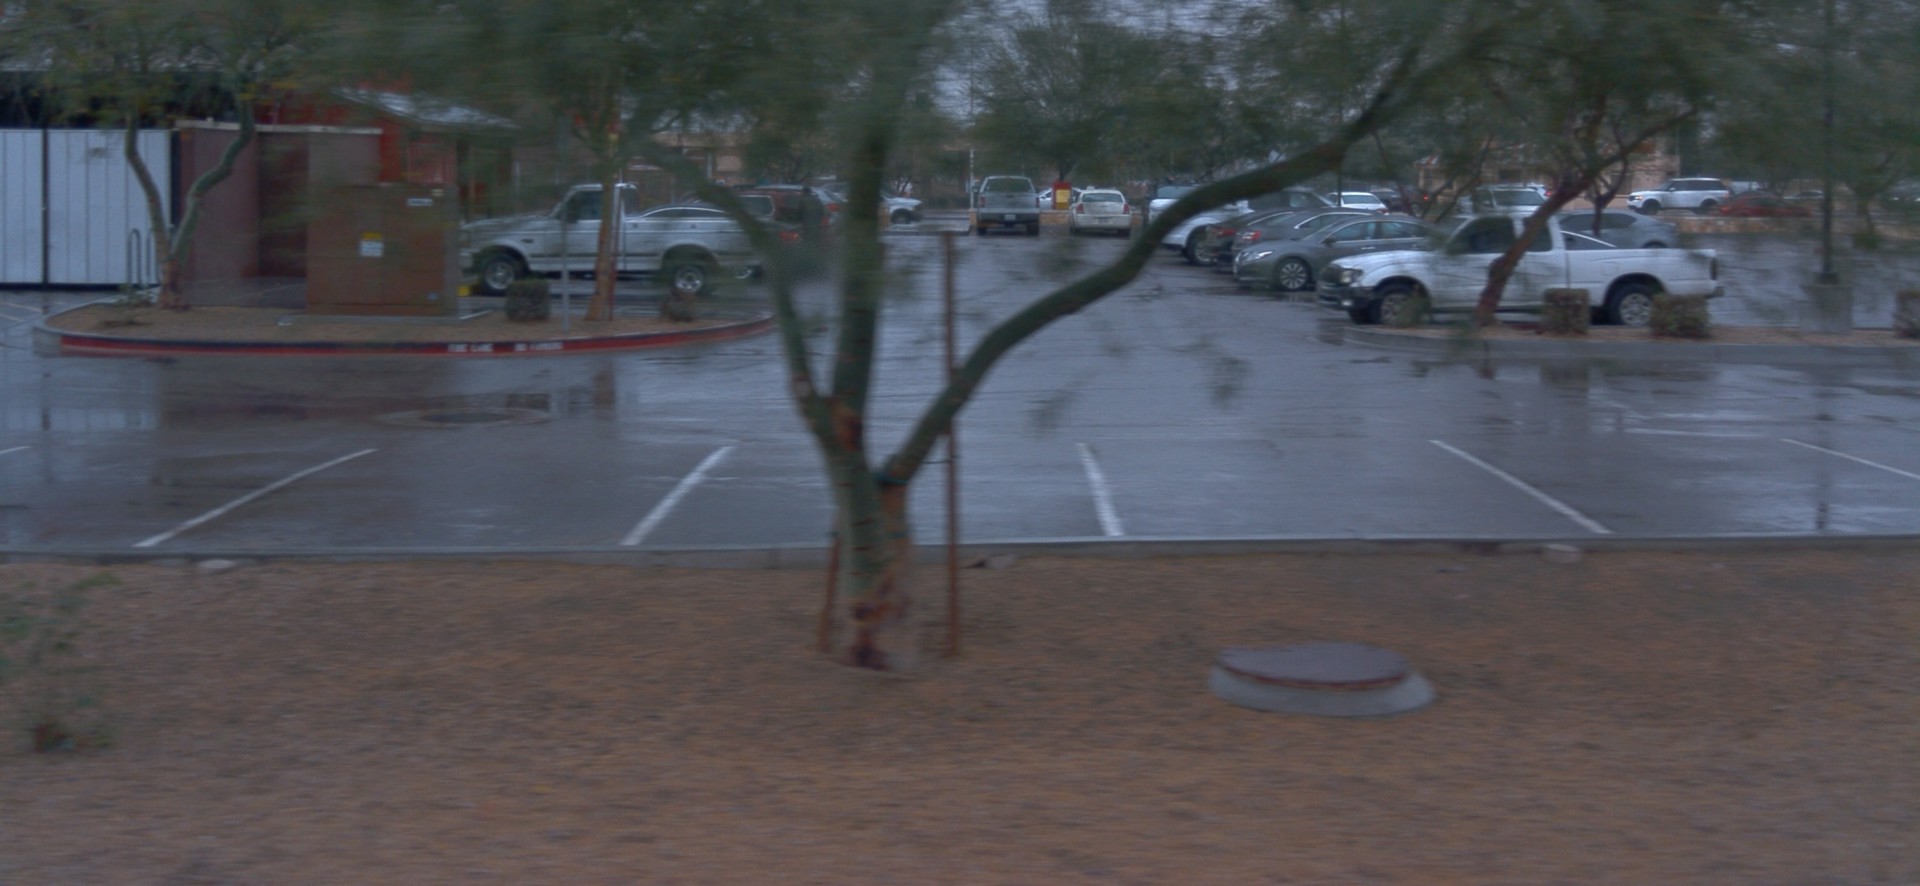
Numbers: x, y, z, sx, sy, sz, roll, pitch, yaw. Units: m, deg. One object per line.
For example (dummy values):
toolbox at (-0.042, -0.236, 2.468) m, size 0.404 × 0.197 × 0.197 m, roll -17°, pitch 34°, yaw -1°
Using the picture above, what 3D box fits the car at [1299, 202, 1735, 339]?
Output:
car at (7.245, -2.293, 27.445) m, size 5.184 × 1.696 × 2.141 m, roll 0°, pitch 4°, yaw -1°

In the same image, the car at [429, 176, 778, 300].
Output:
car at (-5.642, -3.301, 33.426) m, size 5.212 × 1.886 × 2.117 m, roll 0°, pitch 3°, yaw -1°
